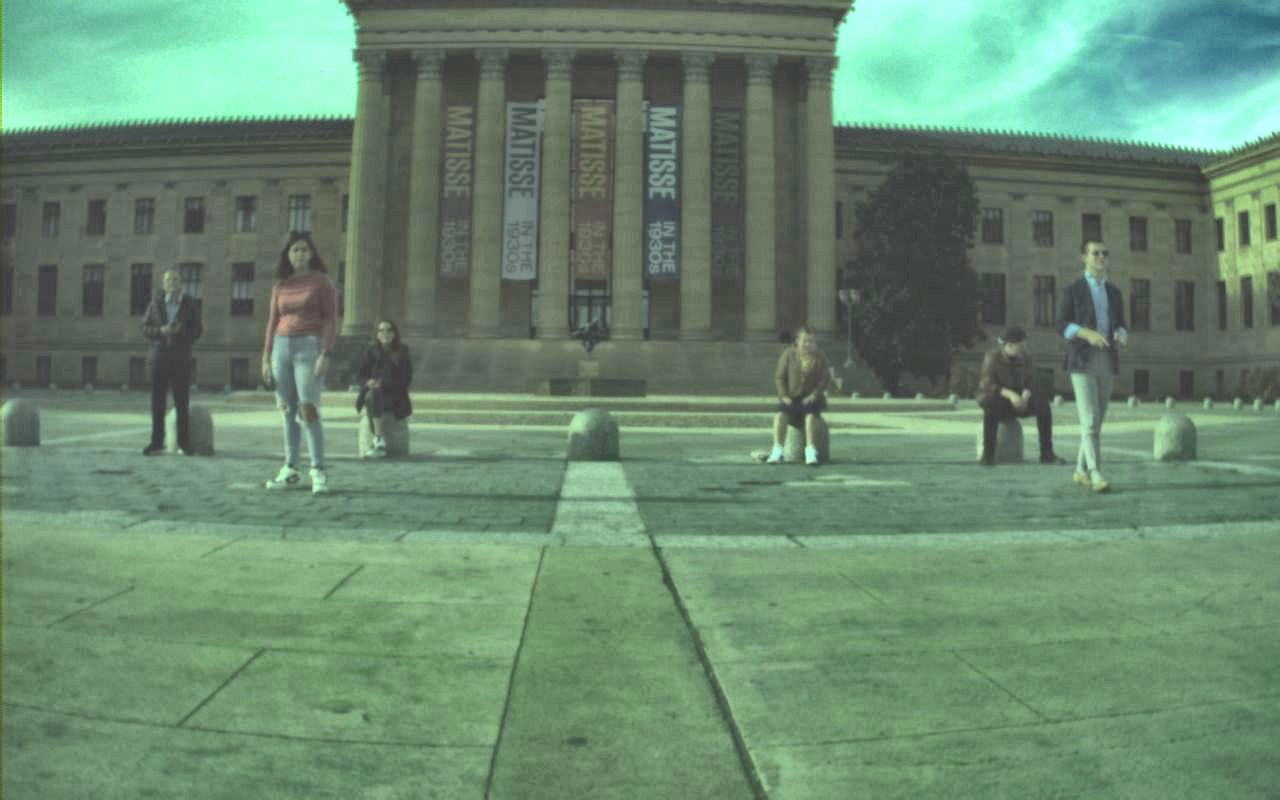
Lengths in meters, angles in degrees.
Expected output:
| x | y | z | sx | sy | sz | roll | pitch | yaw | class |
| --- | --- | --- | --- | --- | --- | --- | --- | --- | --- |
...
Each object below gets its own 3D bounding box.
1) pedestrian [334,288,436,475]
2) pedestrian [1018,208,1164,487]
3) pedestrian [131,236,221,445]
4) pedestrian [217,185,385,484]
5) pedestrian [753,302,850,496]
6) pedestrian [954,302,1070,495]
| x | y | z | sx | sy | sz | roll | pitch | yaw | class |
| --- | --- | --- | --- | --- | --- | --- | --- | --- | --- |
| -2.274 | -0.168 | 11.112 | 0.808 | 1.606 | 0.837 | 0 | 0 | -4 | pedestrian |
| 3.097 | -0.340 | 8.232 | 0.800 | 1.814 | 0.827 | 0 | 0 | -2 | pedestrian |
| -4.168 | -0.504 | 10.575 | 0.795 | 1.794 | 0.809 | 0 | 0 | -23 | pedestrian |
| -2.090 | -0.389 | 7.517 | 0.756 | 1.728 | 0.775 | 0 | 0 | 15 | pedestrian |
| 1.431 | -0.013 | 11.229 | 0.802 | 1.678 | 0.807 | 0 | 0 | 4 | pedestrian |
| 3.405 | -0.011 | 11.191 | 0.830 | 1.689 | 0.847 | 0 | 0 | -4 | pedestrian |
